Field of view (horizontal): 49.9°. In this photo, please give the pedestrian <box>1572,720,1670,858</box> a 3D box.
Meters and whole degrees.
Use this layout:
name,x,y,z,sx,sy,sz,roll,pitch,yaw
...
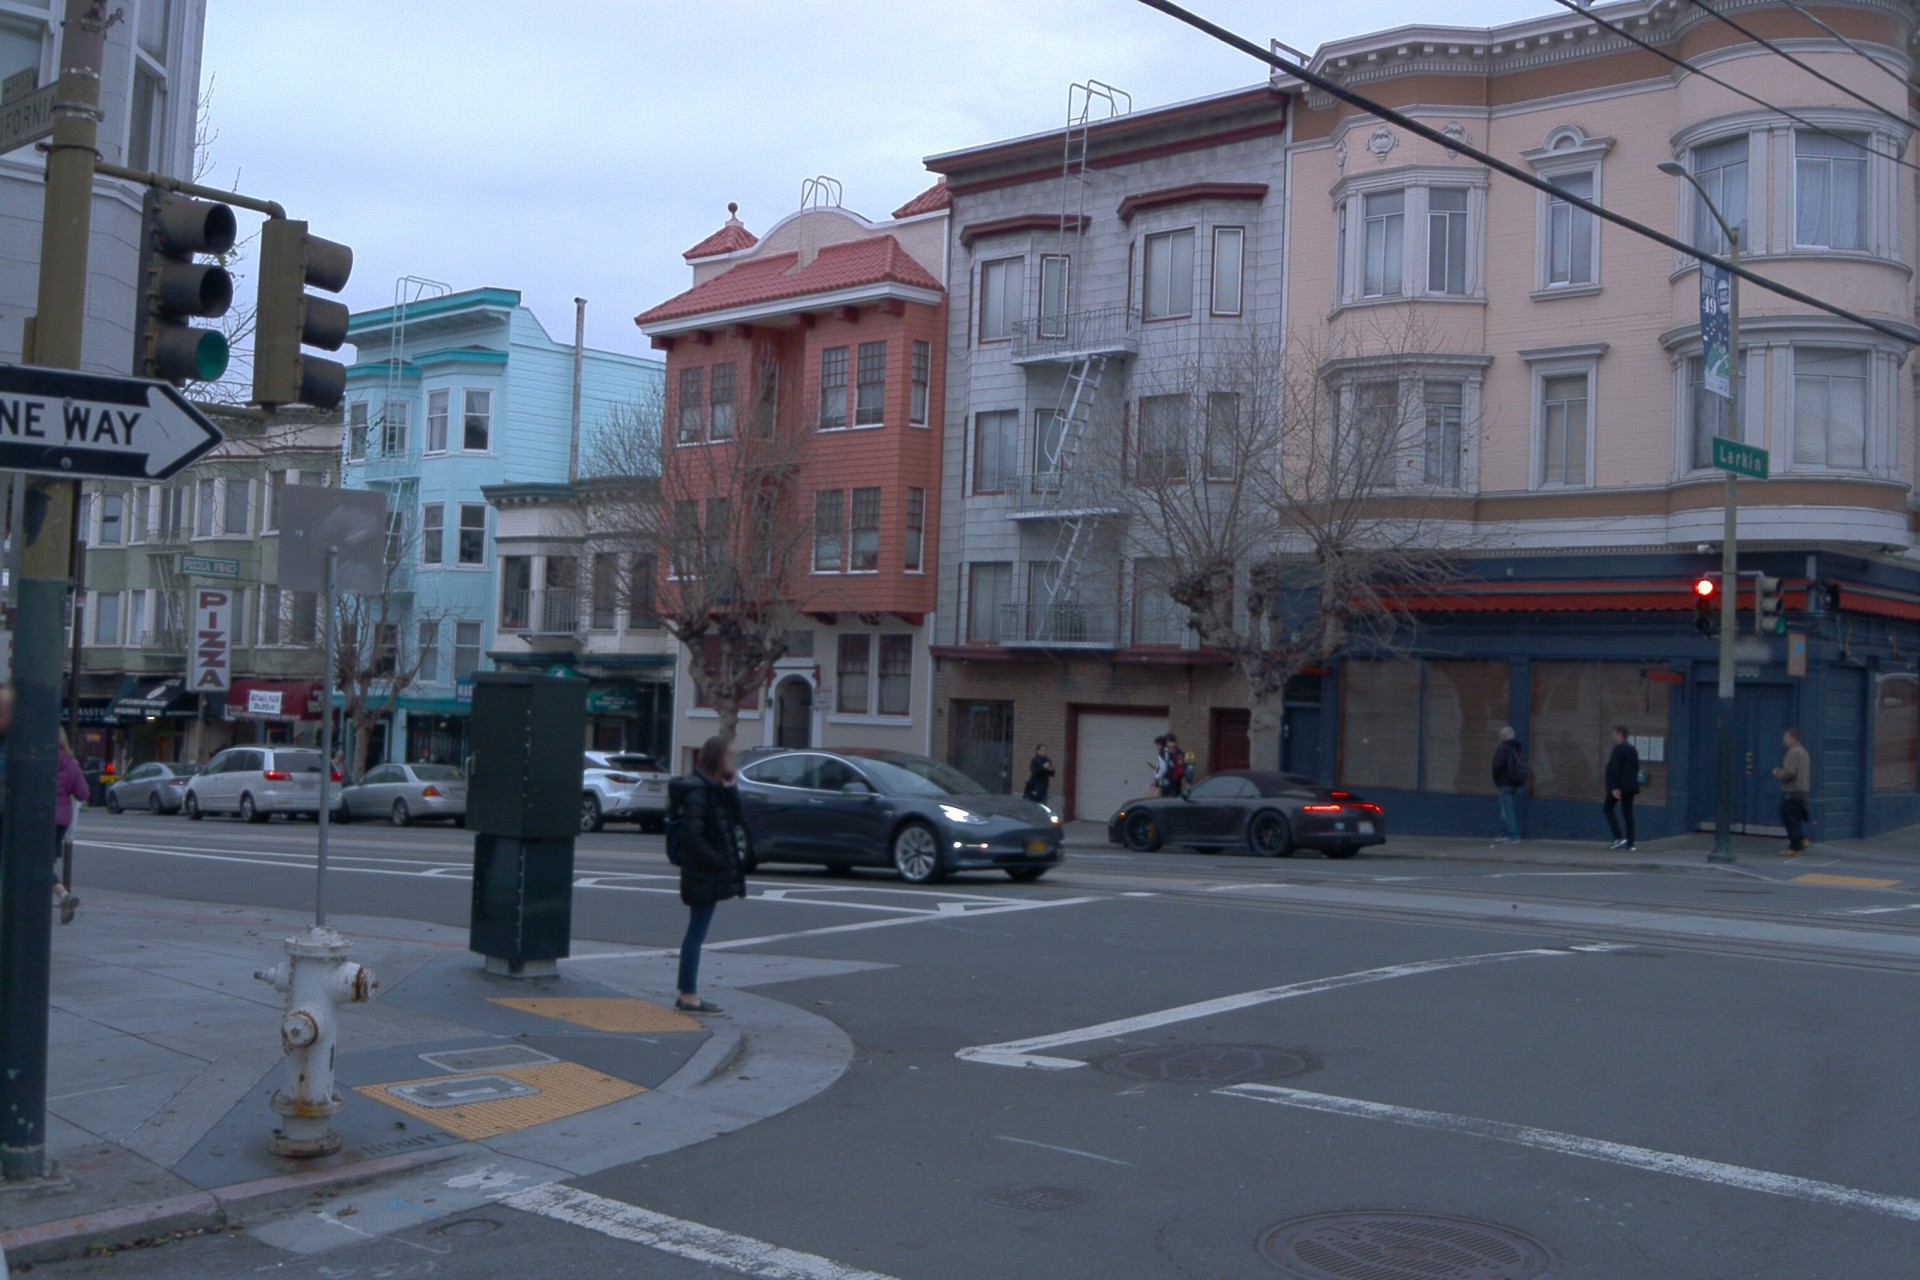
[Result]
name,x,y,z,sx,sy,sz,roll,pitch,yaw
pedestrian,9.750,2.181,30.462,1.080,1.913,0.903,1,1,44

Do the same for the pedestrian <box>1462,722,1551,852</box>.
name,x,y,z,sx,sy,sz,roll,pitch,yaw
pedestrian,8.558,2.287,32.356,0.772,1.930,1.100,-1,1,-45

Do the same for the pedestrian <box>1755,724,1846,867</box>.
name,x,y,z,sx,sy,sz,roll,pitch,yaw
pedestrian,11.851,2.169,29.110,0.946,1.900,0.789,1,1,44

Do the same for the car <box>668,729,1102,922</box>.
name,x,y,z,sx,sy,sz,roll,pitch,yaw
car,-0.914,1.944,22.823,4.698,1.630,2.074,1,1,43

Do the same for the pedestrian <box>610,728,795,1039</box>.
name,x,y,z,sx,sy,sz,roll,pitch,yaw
pedestrian,-1.515,1.393,12.138,0.846,1.692,0.707,-1,1,-35

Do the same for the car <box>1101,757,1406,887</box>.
name,x,y,z,sx,sy,sz,roll,pitch,yaw
car,4.280,2.627,30.588,1.947,1.460,4.186,-1,1,-43
